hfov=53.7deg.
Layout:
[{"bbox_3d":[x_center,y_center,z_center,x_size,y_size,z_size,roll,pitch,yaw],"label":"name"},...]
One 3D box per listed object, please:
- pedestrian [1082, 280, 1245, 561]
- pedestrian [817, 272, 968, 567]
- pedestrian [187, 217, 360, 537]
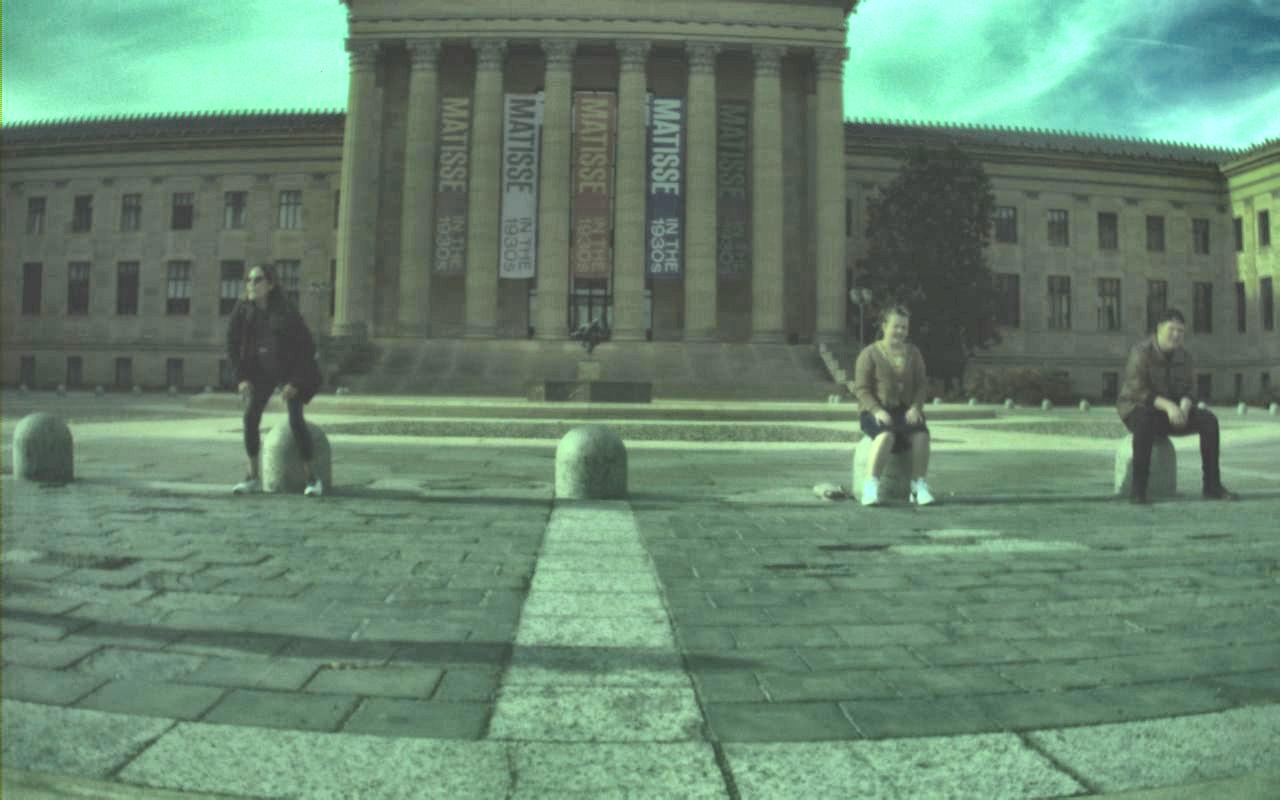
[{"bbox_3d":[3.508,0.137,7.859,0.840,1.768,0.850,0,0,-4],"label":"pedestrian"},{"bbox_3d":[1.590,0.117,7.906,0.819,1.777,0.821,0,0,1],"label":"pedestrian"},{"bbox_3d":[-2.231,-0.139,7.400,0.828,1.819,0.863,0,0,5],"label":"pedestrian"}]
